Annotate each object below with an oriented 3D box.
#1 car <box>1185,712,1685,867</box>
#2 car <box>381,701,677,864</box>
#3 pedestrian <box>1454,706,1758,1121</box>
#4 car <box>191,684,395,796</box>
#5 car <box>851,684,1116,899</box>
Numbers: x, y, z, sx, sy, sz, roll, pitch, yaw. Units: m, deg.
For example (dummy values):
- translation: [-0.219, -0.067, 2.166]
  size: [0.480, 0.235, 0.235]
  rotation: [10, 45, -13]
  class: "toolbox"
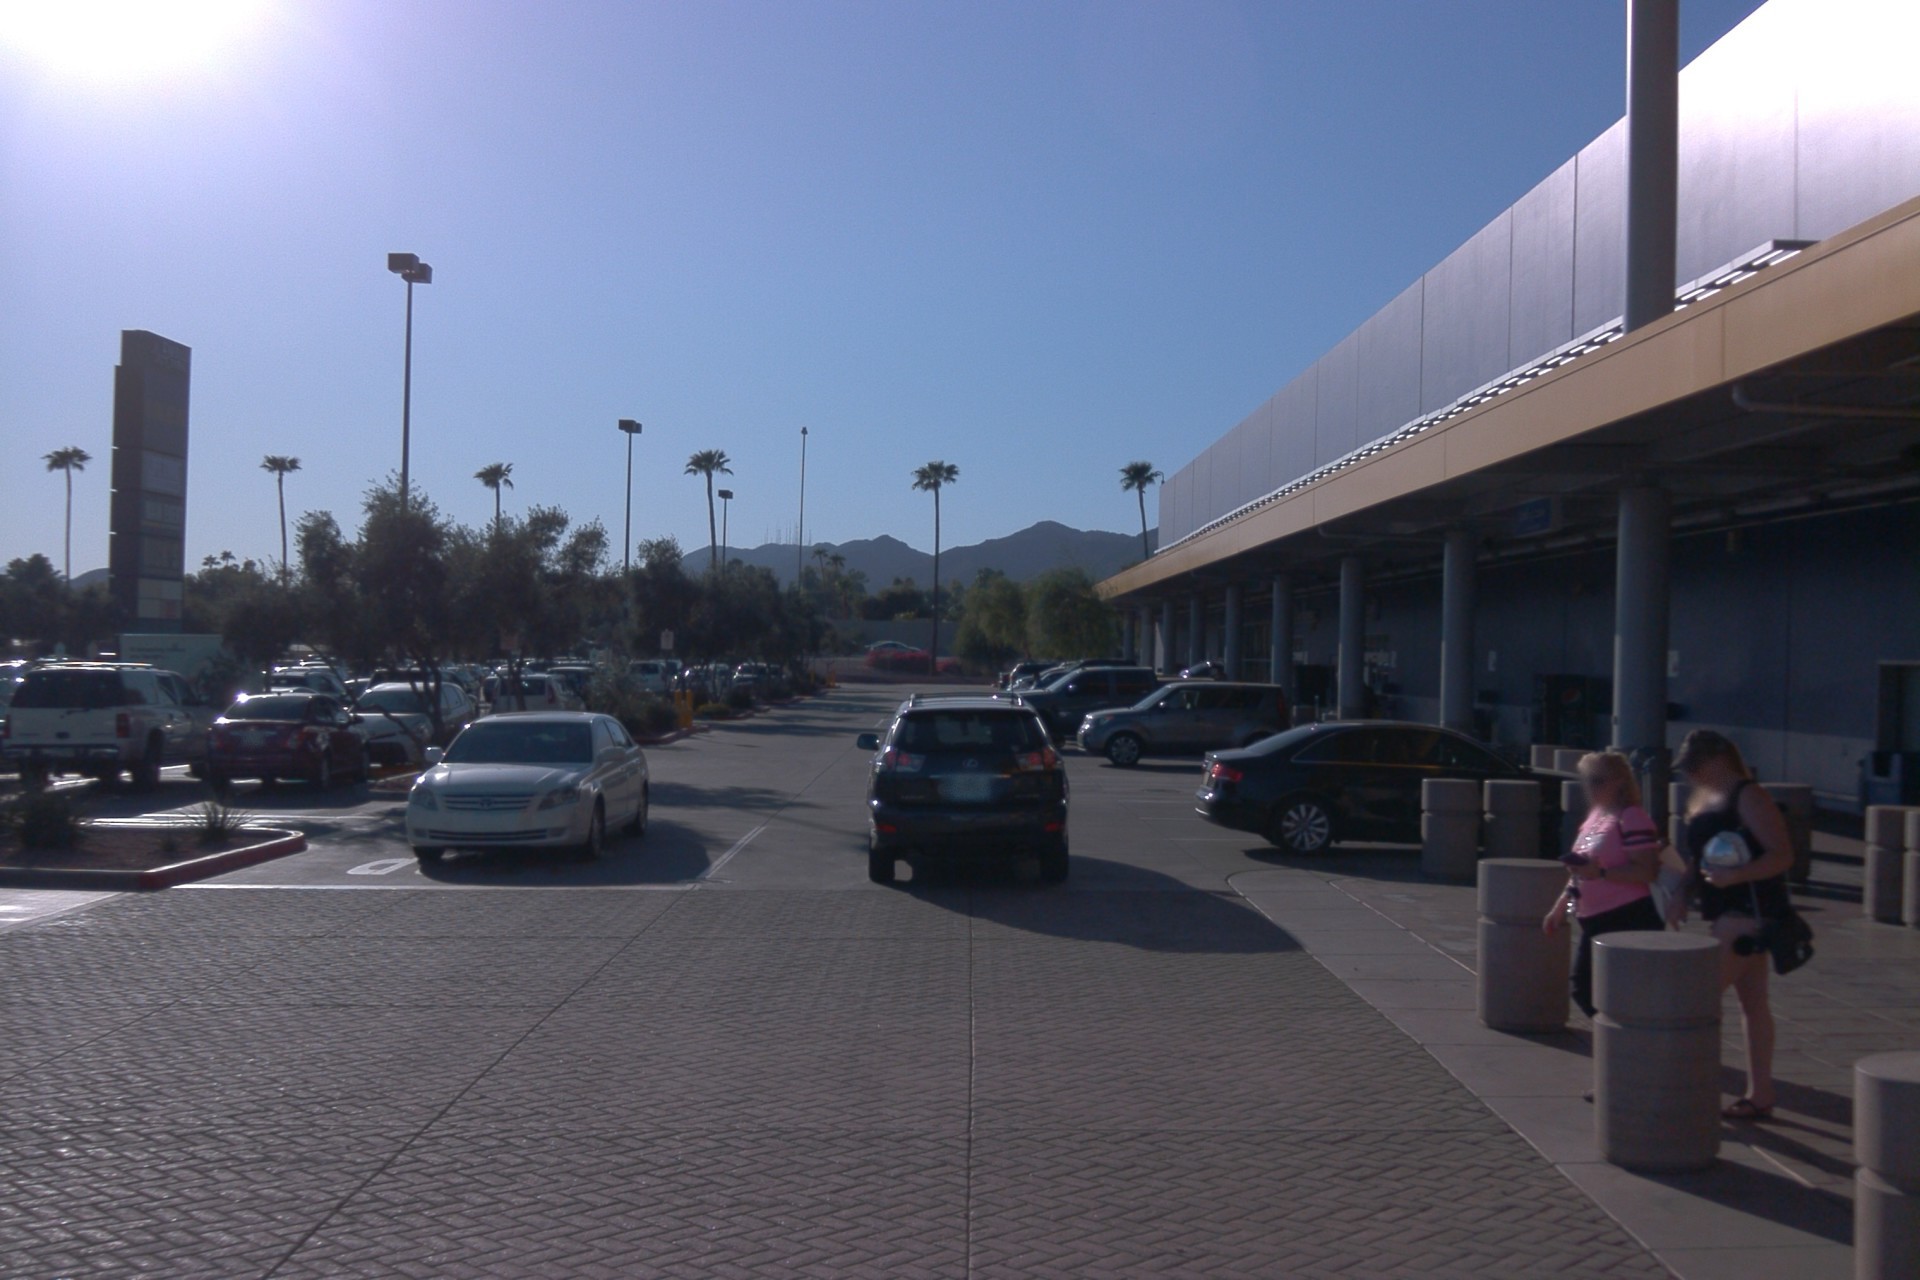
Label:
- translation: [4.903, 1.545, 22.025]
  size: [4.792, 1.460, 2.078]
  rotation: [1, 0, 0]
  class: "car"
- translation: [-4.470, 1.436, 22.428]
  size: [2.148, 1.440, 4.950]
  rotation: [1, -1, 0]
  class: "car"
- translation: [3.000, 1.229, 9.765]
  size: [1.000, 1.810, 1.000]
  rotation: [1, 0, -9]
  class: "pedestrian"
- translation: [-10.432, 1.516, 32.863]
  size: [1.866, 1.580, 4.286]
  rotation: [1, 0, 0]
  class: "car"
- translation: [0.089, 1.352, 20.118]
  size: [2.200, 1.770, 4.573]
  rotation: [1, 0, -4]
  class: "car"
